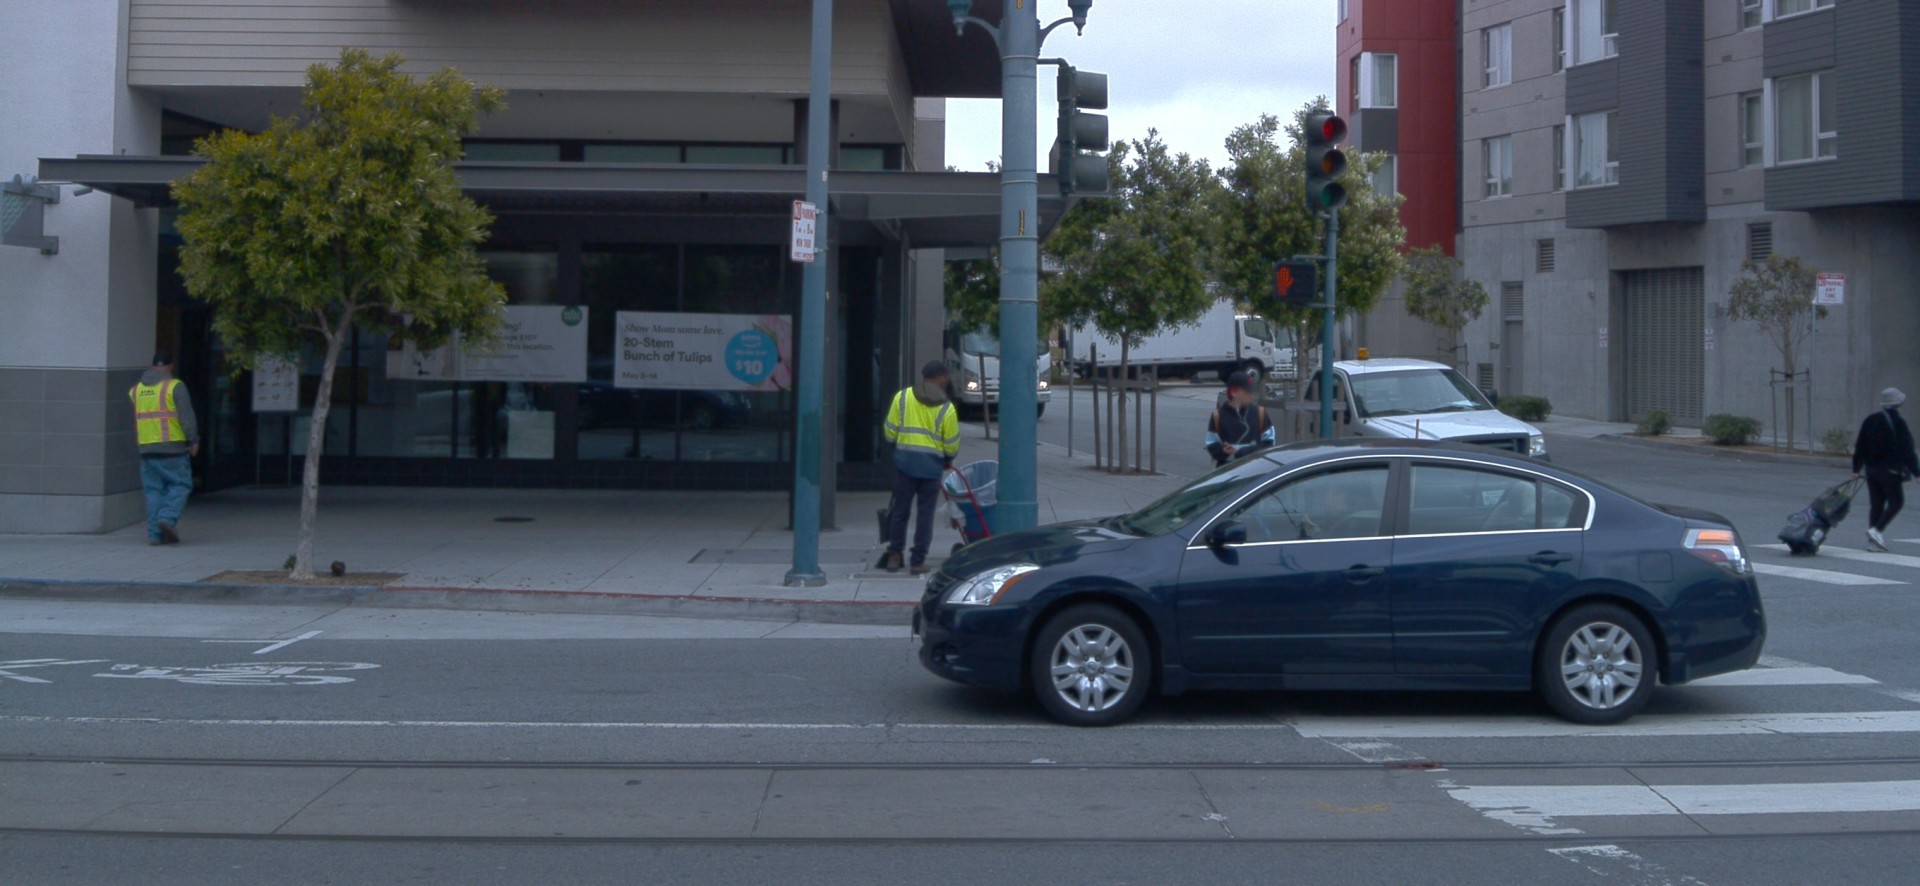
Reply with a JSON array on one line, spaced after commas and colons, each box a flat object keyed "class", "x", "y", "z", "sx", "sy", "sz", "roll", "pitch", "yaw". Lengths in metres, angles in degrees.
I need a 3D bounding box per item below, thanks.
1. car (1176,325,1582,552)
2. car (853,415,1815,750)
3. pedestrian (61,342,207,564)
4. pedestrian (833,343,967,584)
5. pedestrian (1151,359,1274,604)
[{"class": "car", "x": 4.896, "y": -0.238, "z": 25.329, "sx": 2.345, "sy": 2.039, "sz": 6.086, "roll": -2, "pitch": 6, "yaw": -16}, {"class": "car", "x": 1.908, "y": 0.695, "z": 11.507, "sx": 4.855, "sy": 1.454, "sz": 2.158, "roll": 0, "pitch": 5, "yaw": 1}, {"class": "pedestrian", "x": -7.417, "y": 0.065, "z": 18.550, "sx": 0.856, "sy": 1.877, "sz": 0.863, "roll": 0, "pitch": 2, "yaw": 14}, {"class": "pedestrian", "x": -0.482, "y": 0.143, "z": 16.896, "sx": 0.959, "sy": 1.867, "sz": 0.733, "roll": 0, "pitch": 2, "yaw": 10}, {"class": "pedestrian", "x": 2.077, "y": 0.286, "z": 16.915, "sx": 0.717, "sy": 1.868, "sz": 0.830, "roll": 1, "pitch": 2, "yaw": 31}]
